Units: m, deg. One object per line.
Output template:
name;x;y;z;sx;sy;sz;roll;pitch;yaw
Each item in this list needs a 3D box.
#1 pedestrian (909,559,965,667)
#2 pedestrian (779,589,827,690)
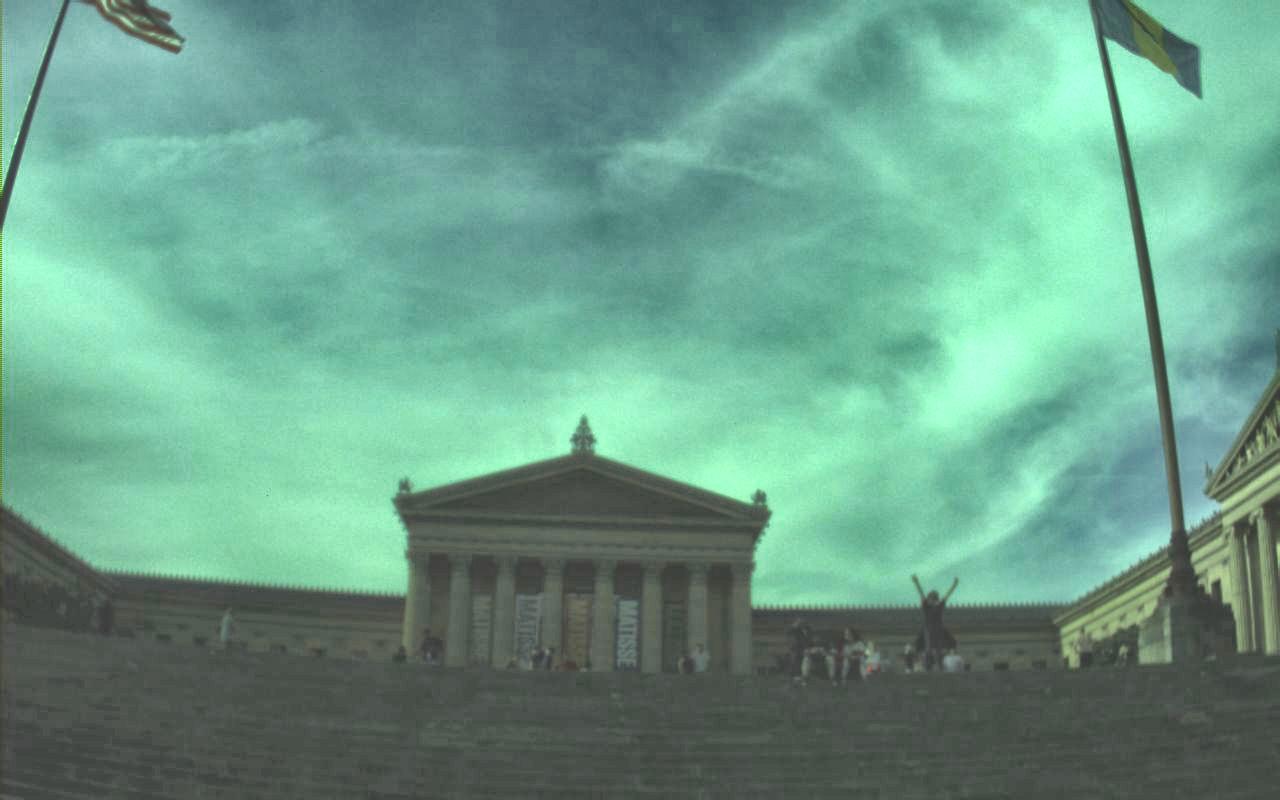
pedestrian;5.551;3.997;22.753;0.728;1.883;0.736;1;0;39
pedestrian;2.878;4.226;21.732;0.707;1.665;0.721;0;0;15
